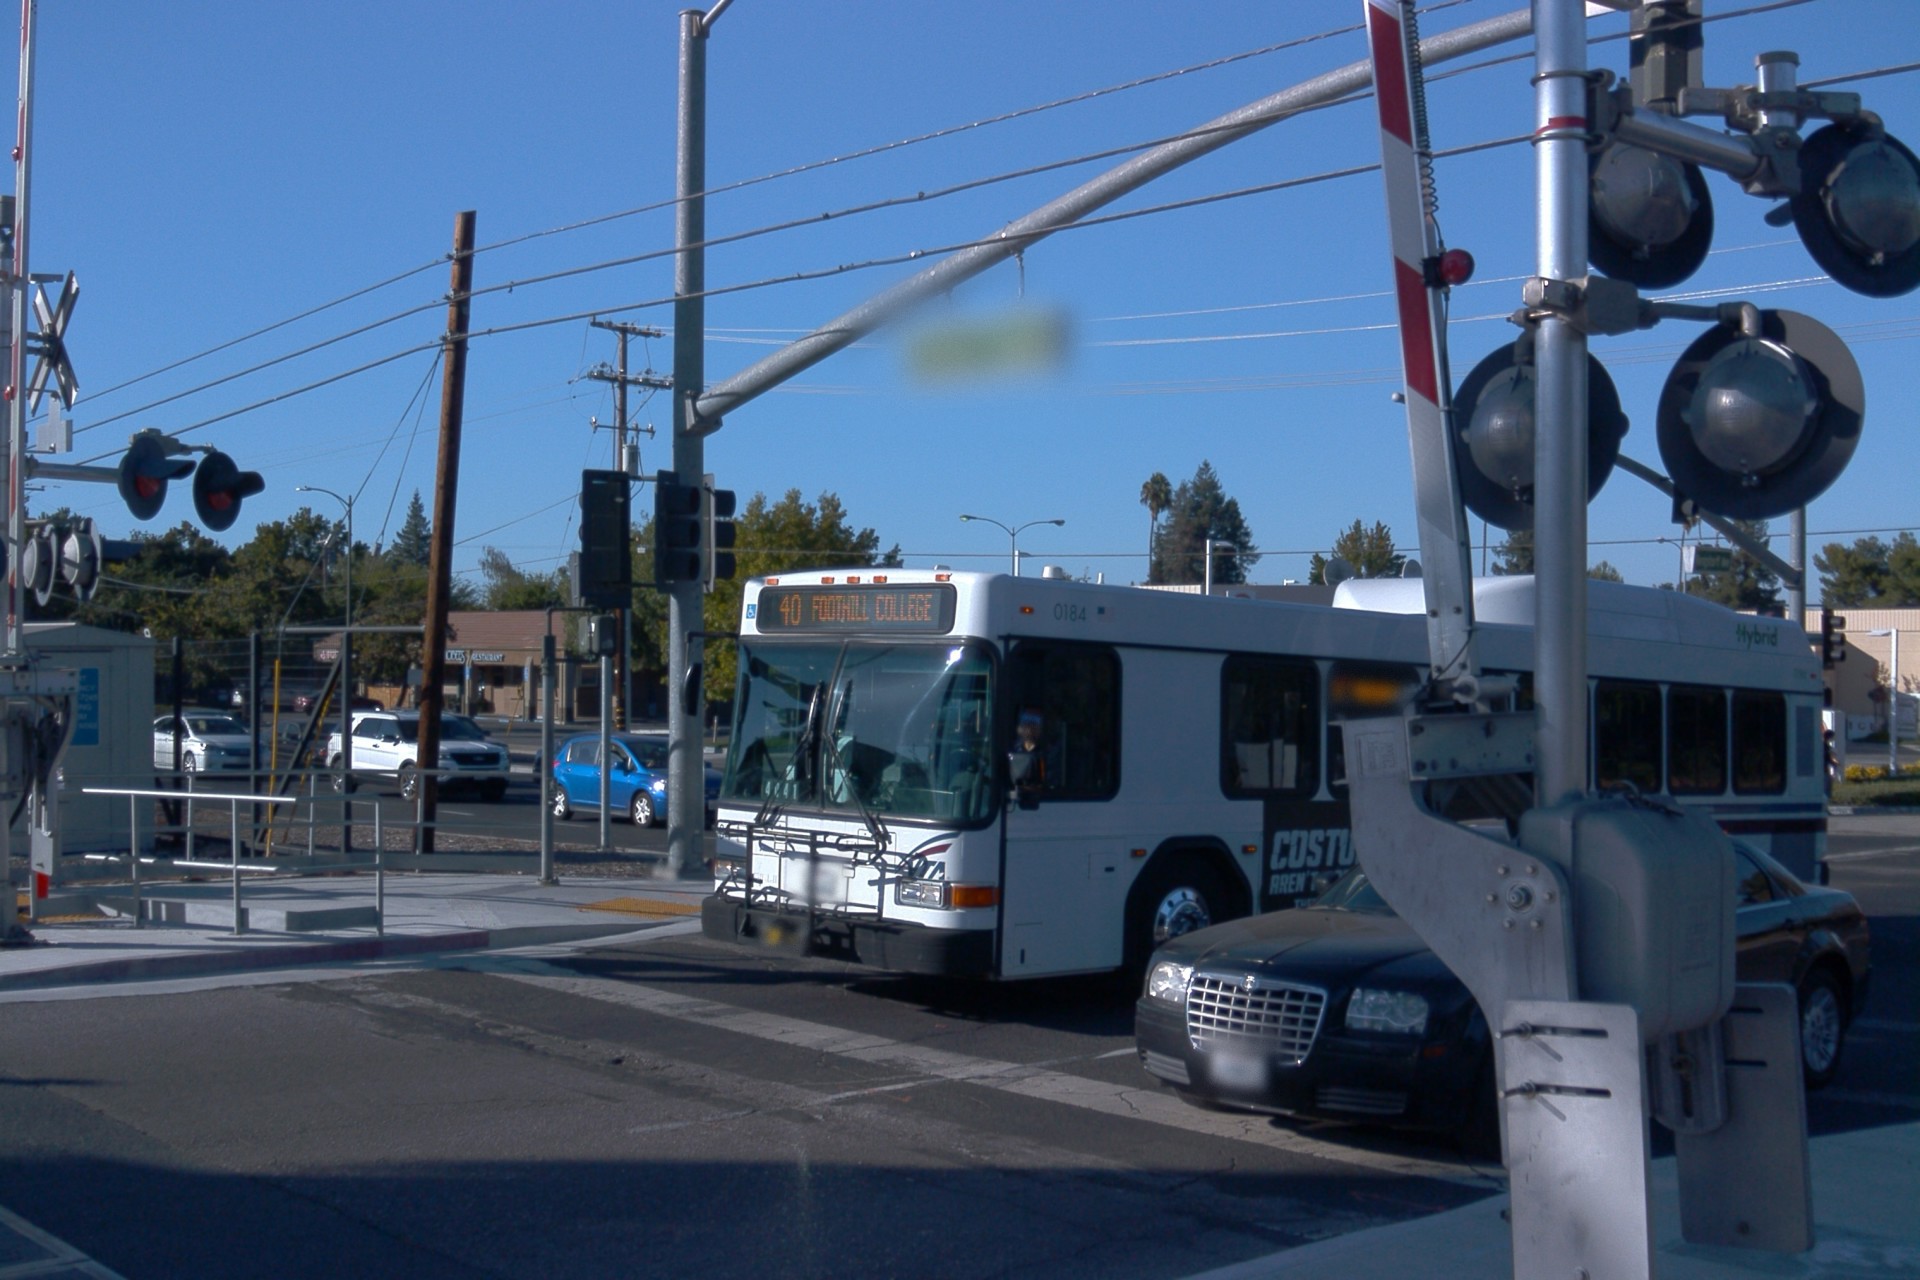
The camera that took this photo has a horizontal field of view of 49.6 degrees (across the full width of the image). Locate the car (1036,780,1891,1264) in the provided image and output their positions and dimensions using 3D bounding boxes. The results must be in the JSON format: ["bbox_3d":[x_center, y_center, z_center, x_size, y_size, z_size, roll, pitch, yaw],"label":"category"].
[{"bbox_3d":[2.858,1.730,10.983,4.875,1.690,2.130,1,-1,-44],"label":"car"}]

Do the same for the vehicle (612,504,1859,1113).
[{"bbox_3d":[3.361,1.030,17.777,12.909,3.550,3.271,1,-1,-44],"label":"vehicle"}]

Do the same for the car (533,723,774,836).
[{"bbox_3d":[-5.318,2.335,35.714,2.086,1.670,4.292,1,-1,-41],"label":"car"}]
